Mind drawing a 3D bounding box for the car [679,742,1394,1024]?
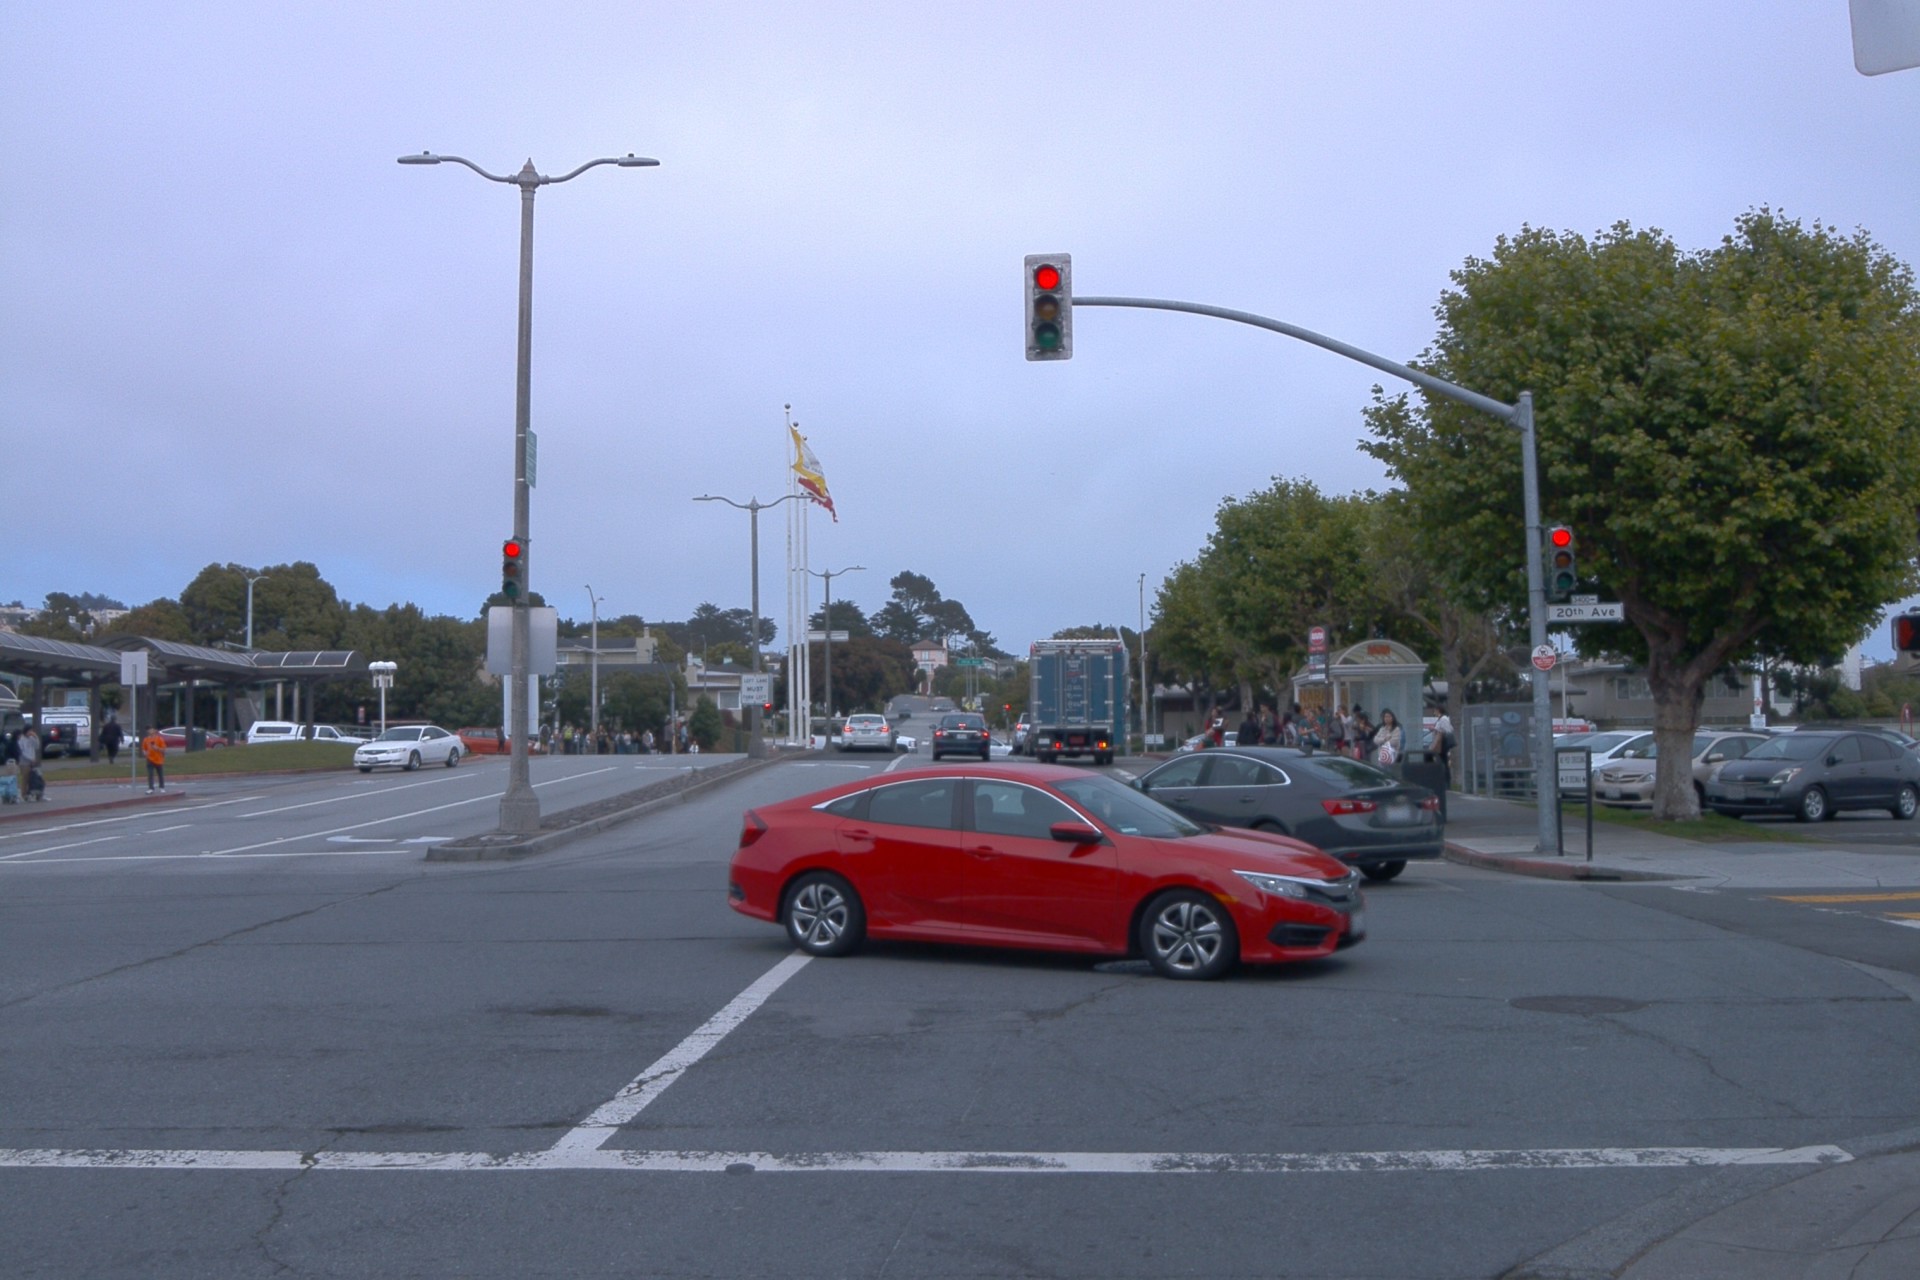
[{"bbox_3d":[0.564,1.621,14.887,4.667,1.526,2.274,0,1,25],"label":"car"}]

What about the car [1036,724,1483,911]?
[{"bbox_3d":[3.167,1.848,22.763,2.080,1.570,4.909,-1,1,-35],"label":"car"}]

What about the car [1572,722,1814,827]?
[{"bbox_3d":[12.856,2.311,36.013,3.959,1.540,1.985,-1,1,-33],"label":"car"}]
